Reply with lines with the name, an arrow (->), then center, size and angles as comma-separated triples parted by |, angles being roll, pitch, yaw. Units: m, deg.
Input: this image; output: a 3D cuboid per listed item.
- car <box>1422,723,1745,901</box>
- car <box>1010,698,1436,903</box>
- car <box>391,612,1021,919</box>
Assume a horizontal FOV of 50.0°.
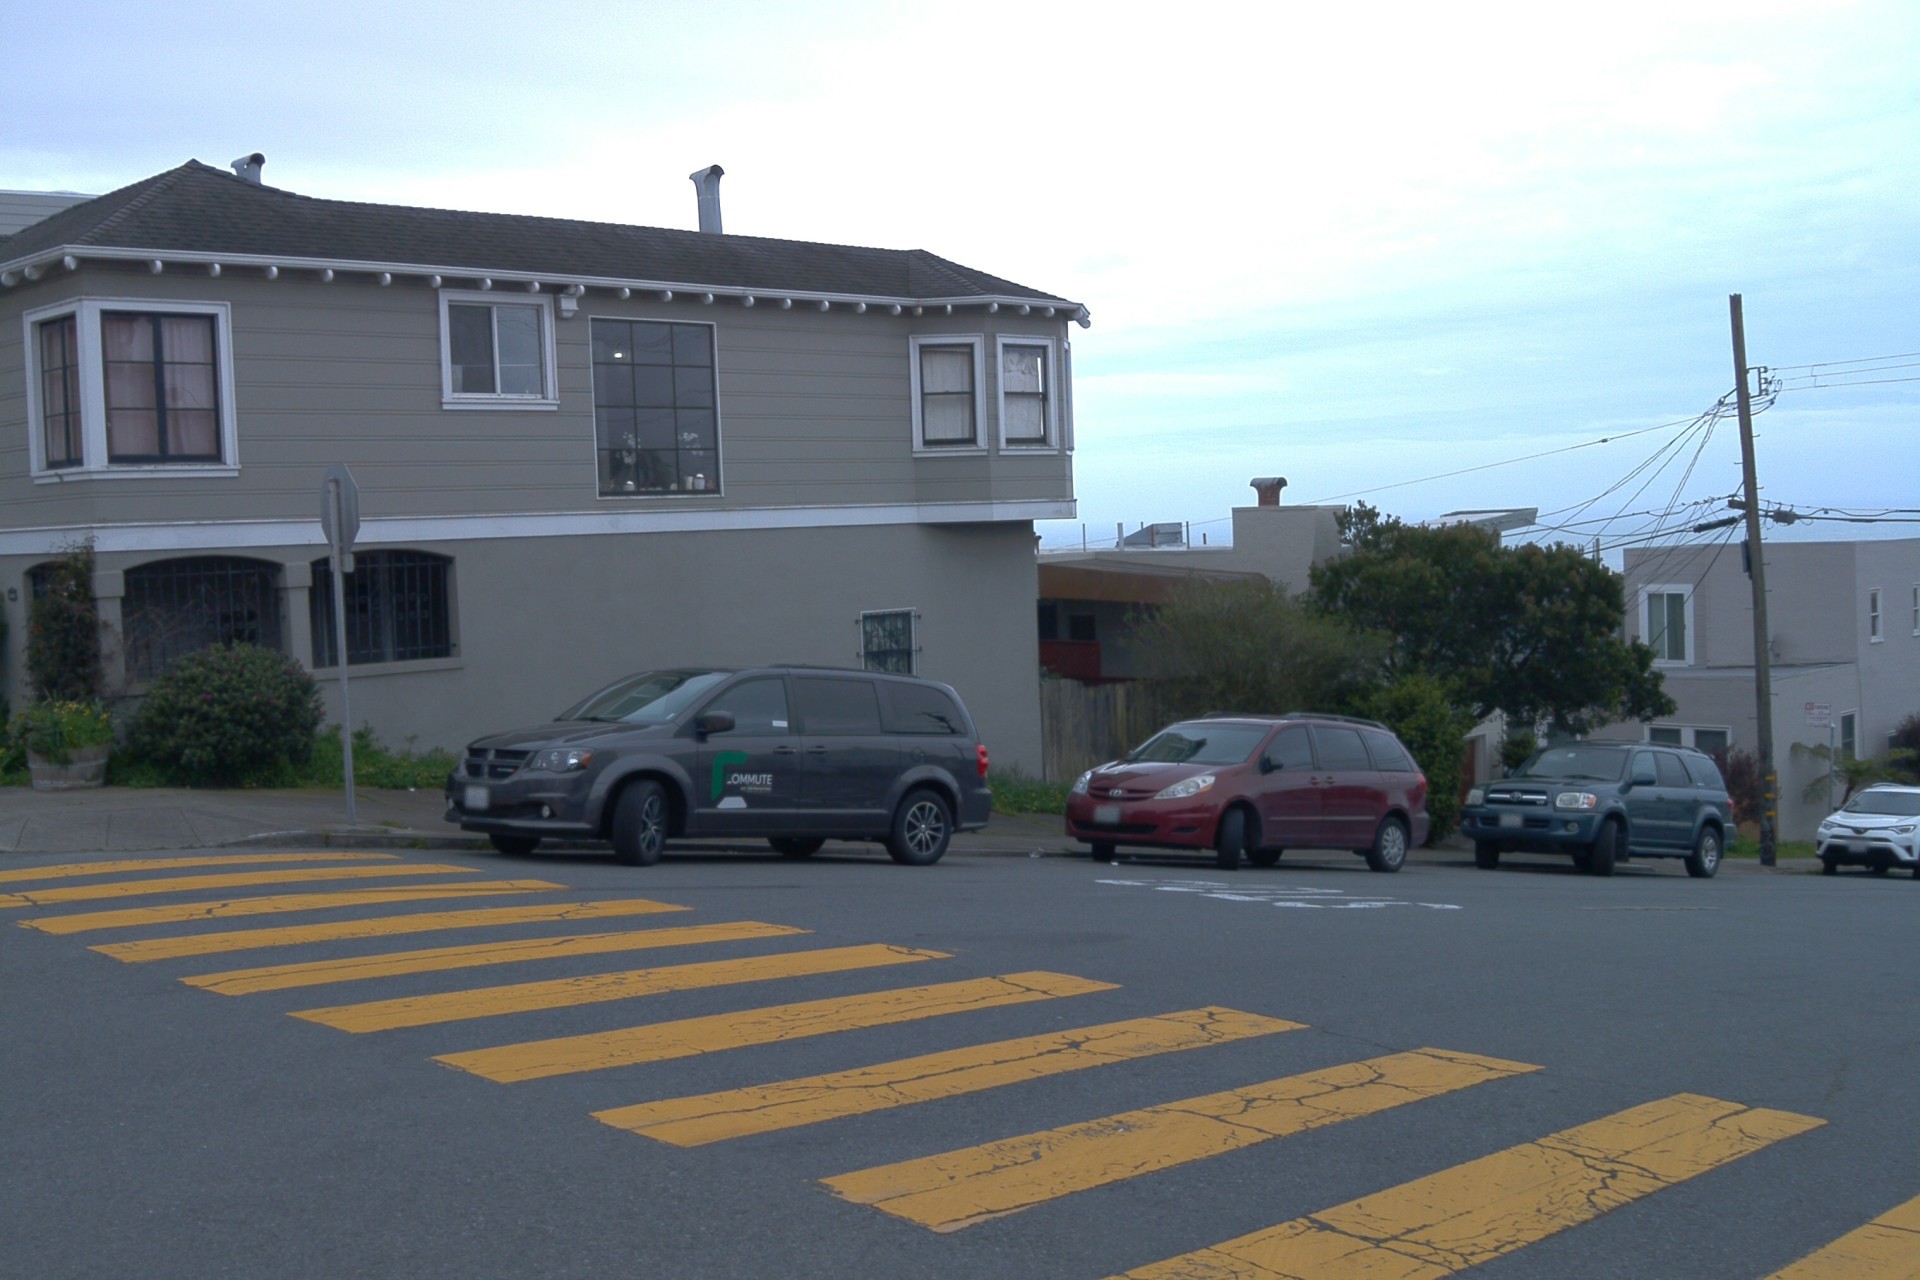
car -> 8.853, 2.306, 28.977 | 2.274, 2.070, 5.038 | 0, 0, 45
car -> 3.115, 1.709, 23.558 | 2.318, 1.940, 5.031 | 0, 0, 43
car -> -2.094, 0.948, 18.188 | 5.158, 2.320, 2.337 | 0, 0, -45
